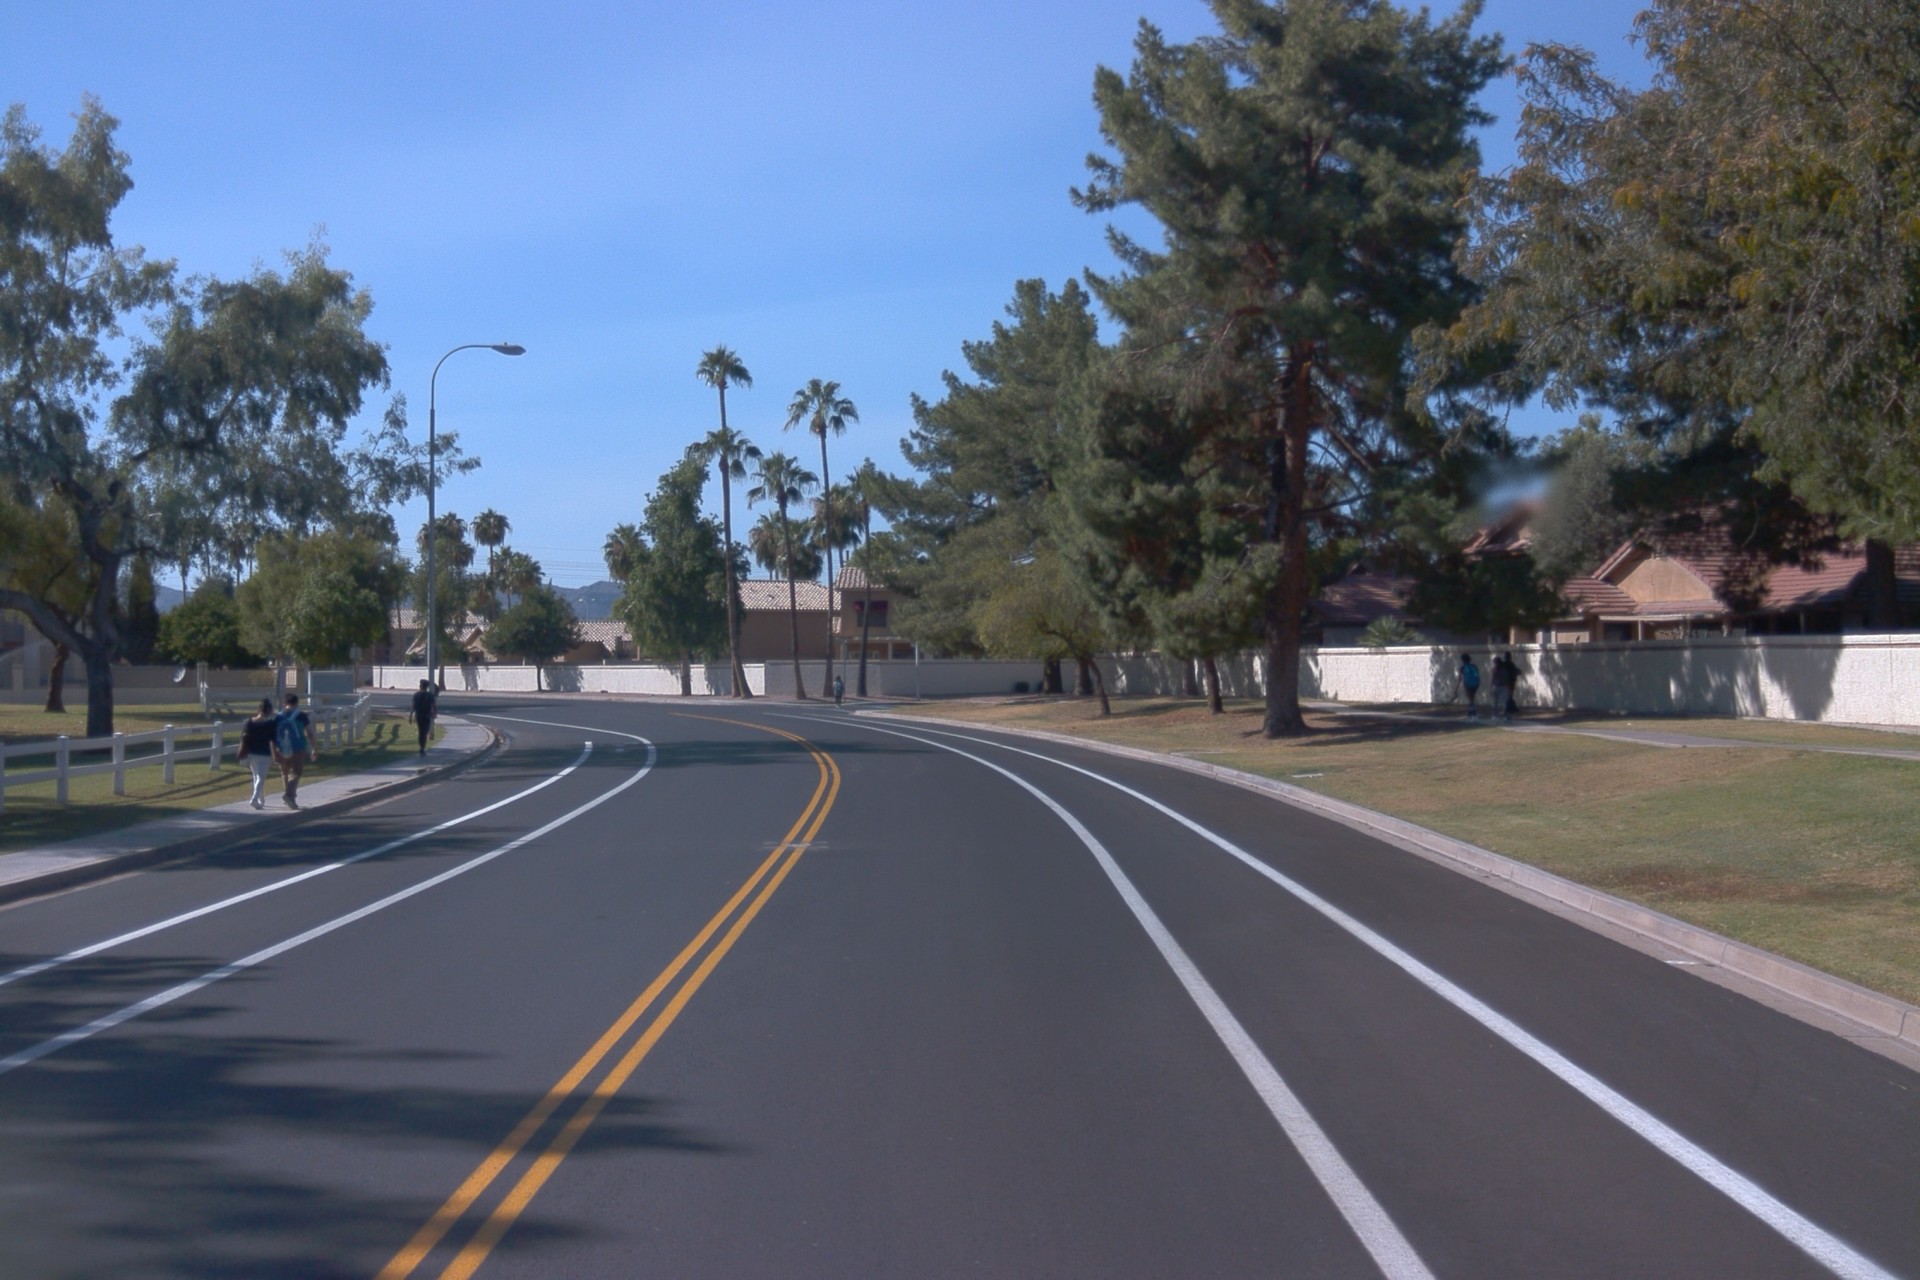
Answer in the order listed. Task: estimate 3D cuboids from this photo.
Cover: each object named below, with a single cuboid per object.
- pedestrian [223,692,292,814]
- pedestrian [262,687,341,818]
[{"bbox_3d":[-10.164,1.624,30.228,0.729,1.710,1.007,0,0,-5],"label":"pedestrian"},{"bbox_3d":[-9.564,1.625,30.347,0.856,1.850,1.036,0,0,-3],"label":"pedestrian"}]
